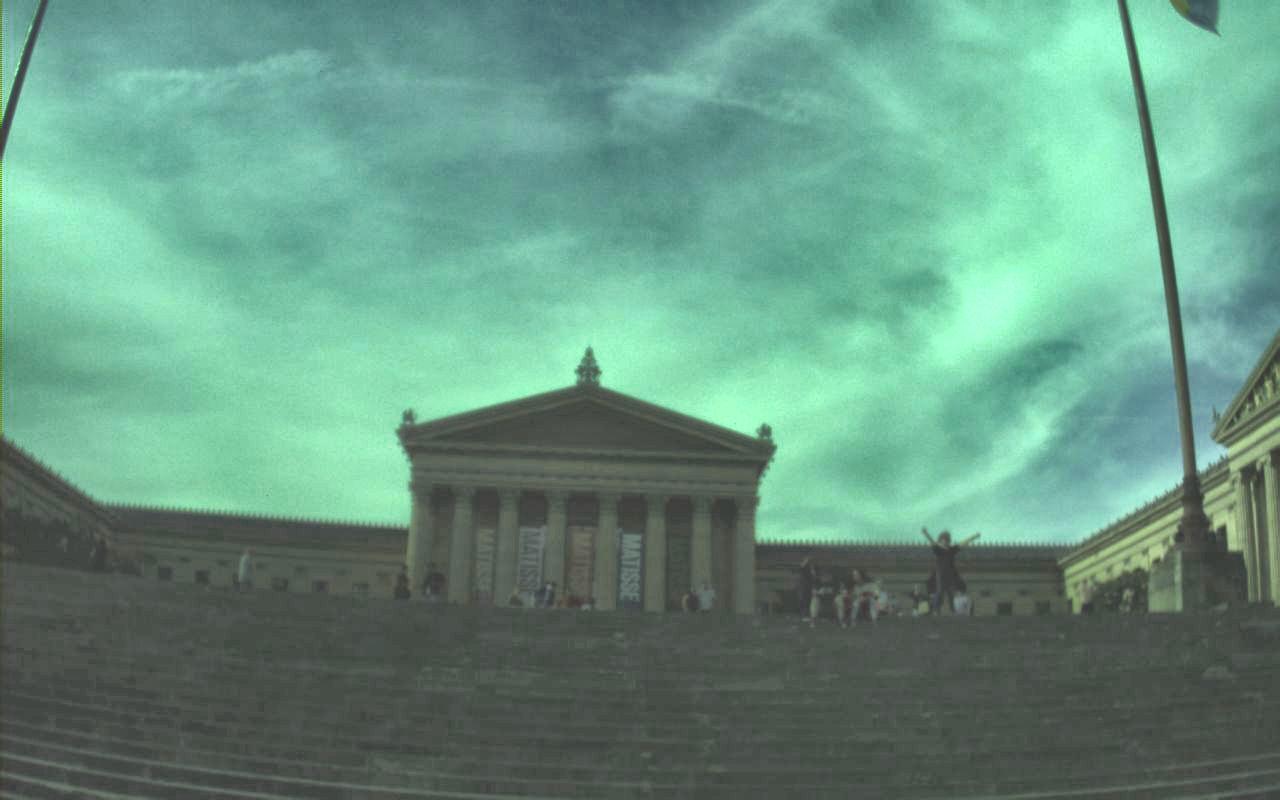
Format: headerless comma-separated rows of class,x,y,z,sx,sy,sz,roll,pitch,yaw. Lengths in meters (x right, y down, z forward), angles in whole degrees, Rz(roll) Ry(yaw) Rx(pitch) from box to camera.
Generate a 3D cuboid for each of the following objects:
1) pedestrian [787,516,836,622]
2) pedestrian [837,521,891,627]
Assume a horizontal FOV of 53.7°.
pedestrian,2.944,2.910,21.423,0.652,1.749,0.653,0,0,-9
pedestrian,3.847,2.995,21.286,0.674,1.726,0.687,0,0,-11
